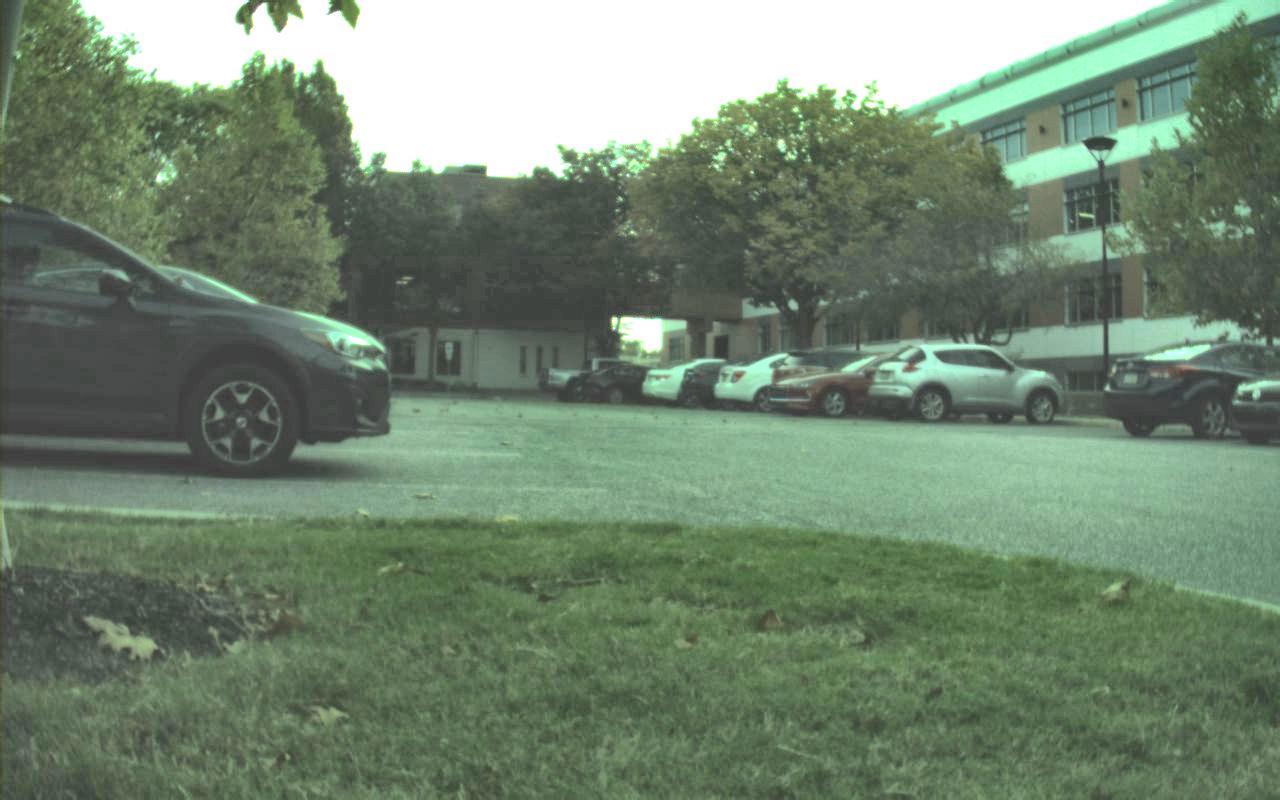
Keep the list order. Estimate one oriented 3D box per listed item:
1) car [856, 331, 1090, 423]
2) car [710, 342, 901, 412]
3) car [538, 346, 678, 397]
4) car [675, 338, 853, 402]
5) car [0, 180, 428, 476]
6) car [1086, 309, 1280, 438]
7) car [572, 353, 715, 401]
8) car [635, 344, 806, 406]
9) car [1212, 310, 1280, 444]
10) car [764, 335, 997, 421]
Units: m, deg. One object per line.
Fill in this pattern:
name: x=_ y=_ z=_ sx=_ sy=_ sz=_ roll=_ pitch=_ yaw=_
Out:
car: x=6.593 y=-0.437 z=24.243 sx=4.354 sy=1.685 sz=1.921 roll=0 pitch=1 yaw=-15
car: x=4.185 y=-0.566 z=31.875 sx=4.470 sy=1.687 sz=1.950 roll=0 pitch=1 yaw=-14
car: x=-1.266 y=-1.086 z=48.849 sx=5.019 sy=1.917 sz=2.094 roll=0 pitch=1 yaw=-18
car: x=3.358 y=-0.803 z=34.161 sx=4.463 sy=1.652 sz=1.953 roll=0 pitch=1 yaw=-16
car: x=-3.713 y=-0.410 z=7.266 sx=4.570 sy=1.648 sz=1.998 roll=0 pitch=1 yaw=-20
car: x=8.800 y=-0.343 z=16.685 sx=4.592 sy=1.666 sz=1.974 roll=0 pitch=1 yaw=-16
car: x=0.117 y=-0.789 z=44.003 sx=4.599 sy=1.601 sz=1.956 roll=0 pitch=1 yaw=-25
car: x=2.326 y=-0.713 z=36.646 sx=4.604 sy=1.738 sz=1.993 roll=0 pitch=1 yaw=-14
car: x=9.670 y=-0.247 z=14.410 sx=4.393 sy=1.564 sz=1.914 roll=0 pitch=1 yaw=-16
car: x=5.130 y=-0.455 z=26.521 sx=4.615 sy=1.710 sz=1.989 roll=0 pitch=1 yaw=-13
